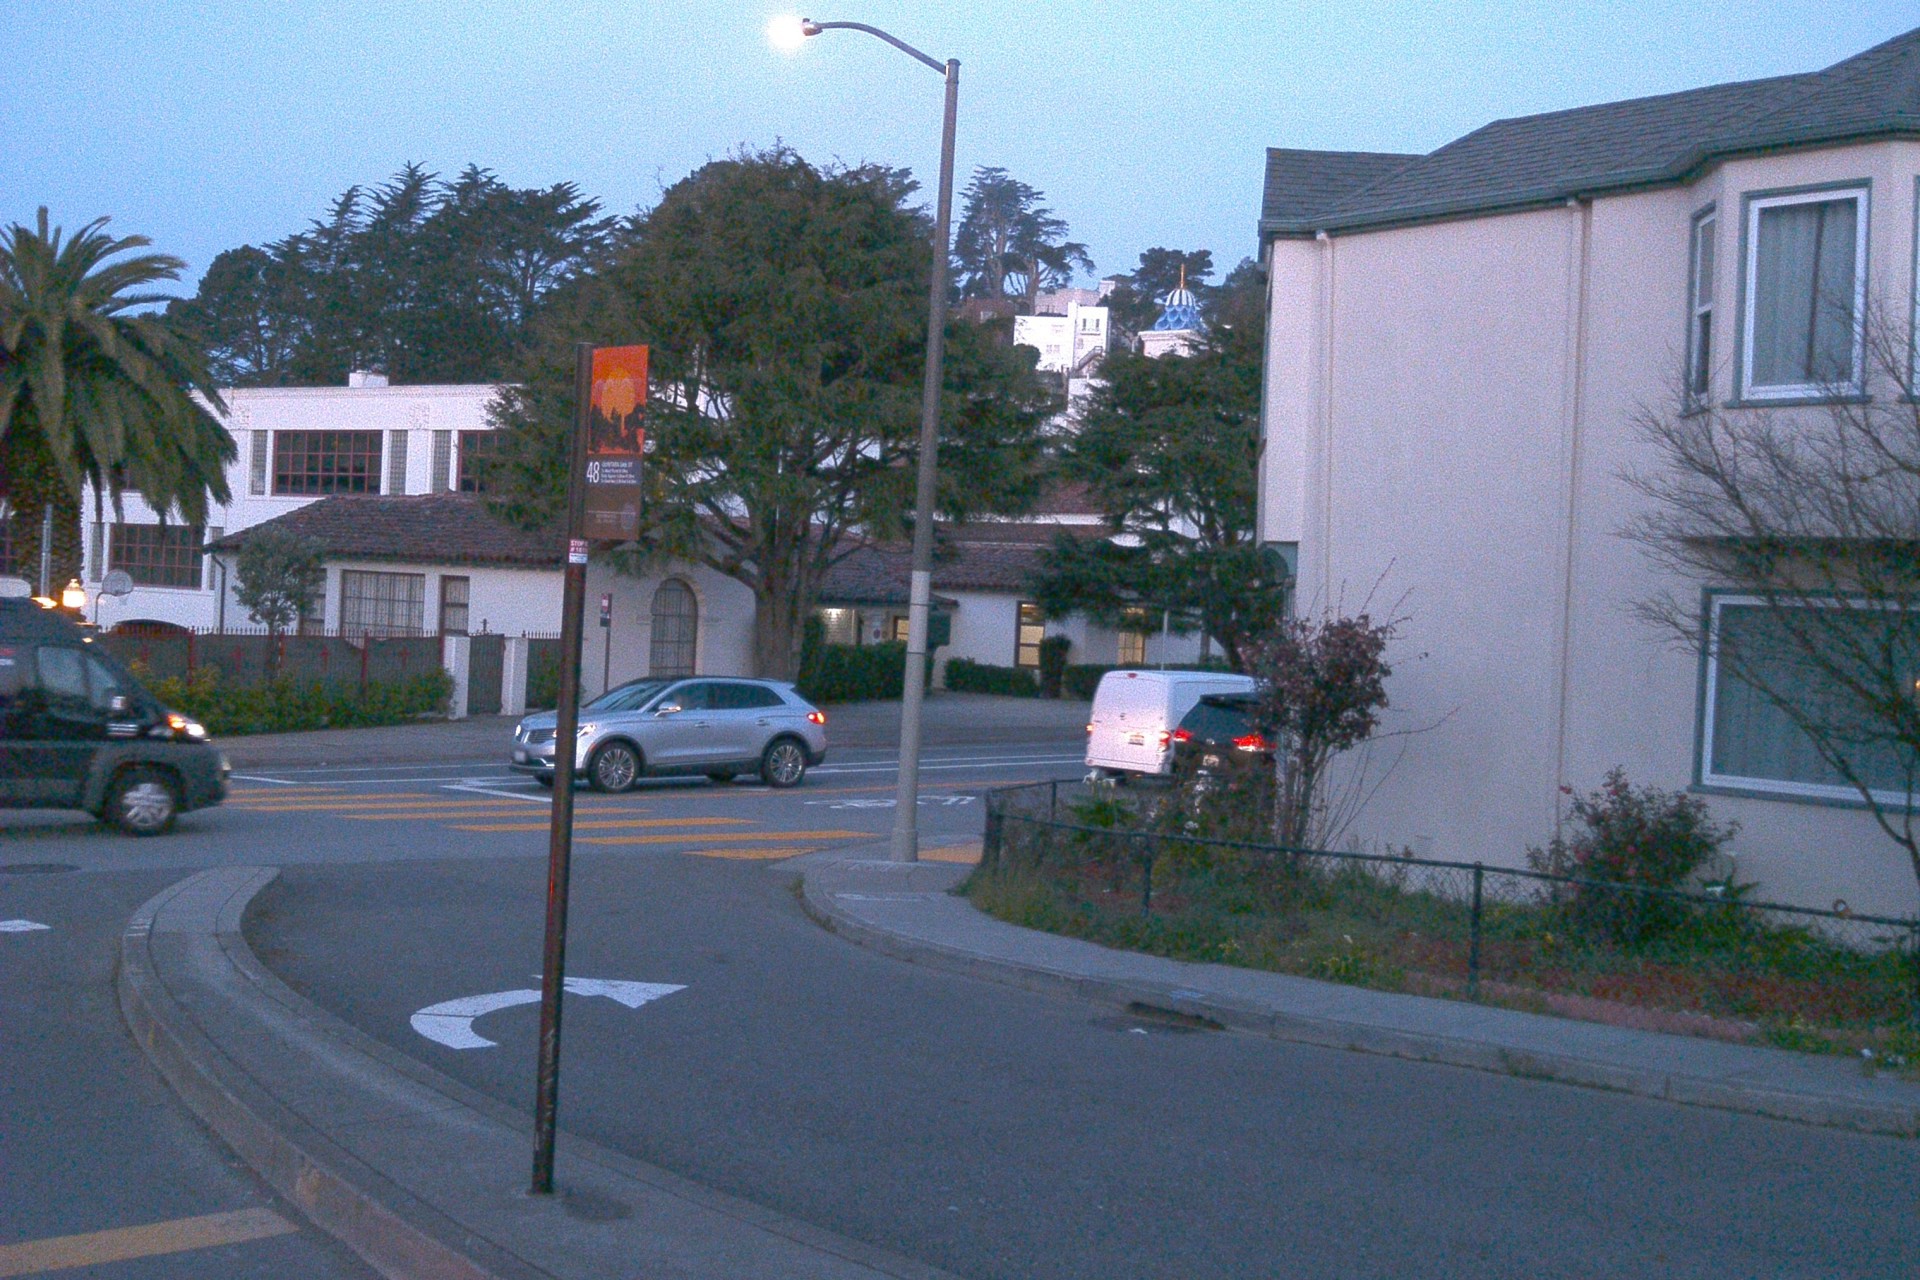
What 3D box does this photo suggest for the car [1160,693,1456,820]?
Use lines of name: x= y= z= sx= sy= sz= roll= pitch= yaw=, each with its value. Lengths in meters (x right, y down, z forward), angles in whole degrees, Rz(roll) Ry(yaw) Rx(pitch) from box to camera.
car: x=5.027 y=1.620 z=30.201 sx=3.819 sy=1.660 sz=2.058 roll=1 pitch=0 yaw=-34

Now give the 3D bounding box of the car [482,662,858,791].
car: x=-4.179 y=1.200 z=30.665 sx=5.027 sy=1.730 sz=2.150 roll=1 pitch=0 yaw=-39

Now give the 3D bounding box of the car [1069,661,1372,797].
car: x=4.230 y=1.356 z=33.553 sx=4.816 sy=2.000 sz=2.113 roll=1 pitch=0 yaw=-41
